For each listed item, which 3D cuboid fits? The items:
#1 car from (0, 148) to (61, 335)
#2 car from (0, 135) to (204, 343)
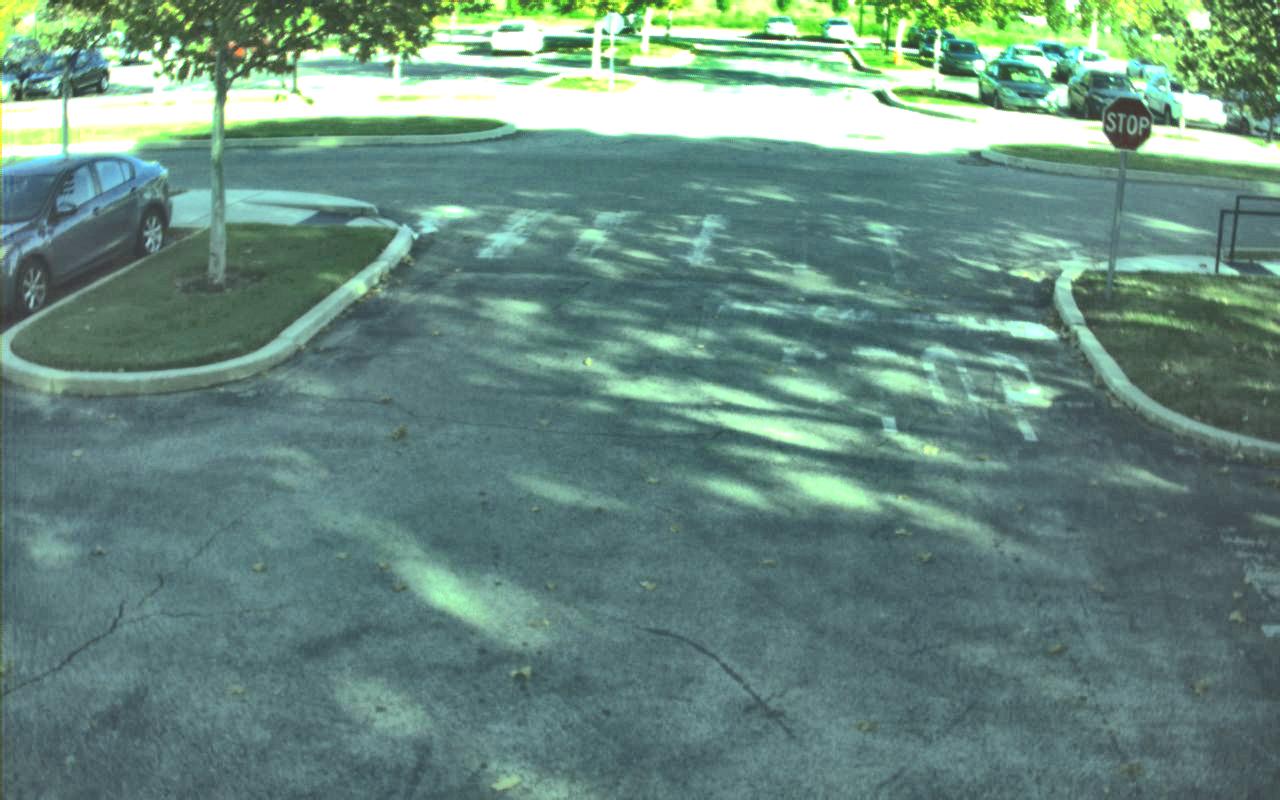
[{"bbox_3d":[-9.436,-2.068,13.631,1.916,1.520,4.435,3,17,12],"label":"car"},{"bbox_3d":[-6.882,-1.940,13.003,1.932,1.547,4.492,1,17,9],"label":"car"}]
